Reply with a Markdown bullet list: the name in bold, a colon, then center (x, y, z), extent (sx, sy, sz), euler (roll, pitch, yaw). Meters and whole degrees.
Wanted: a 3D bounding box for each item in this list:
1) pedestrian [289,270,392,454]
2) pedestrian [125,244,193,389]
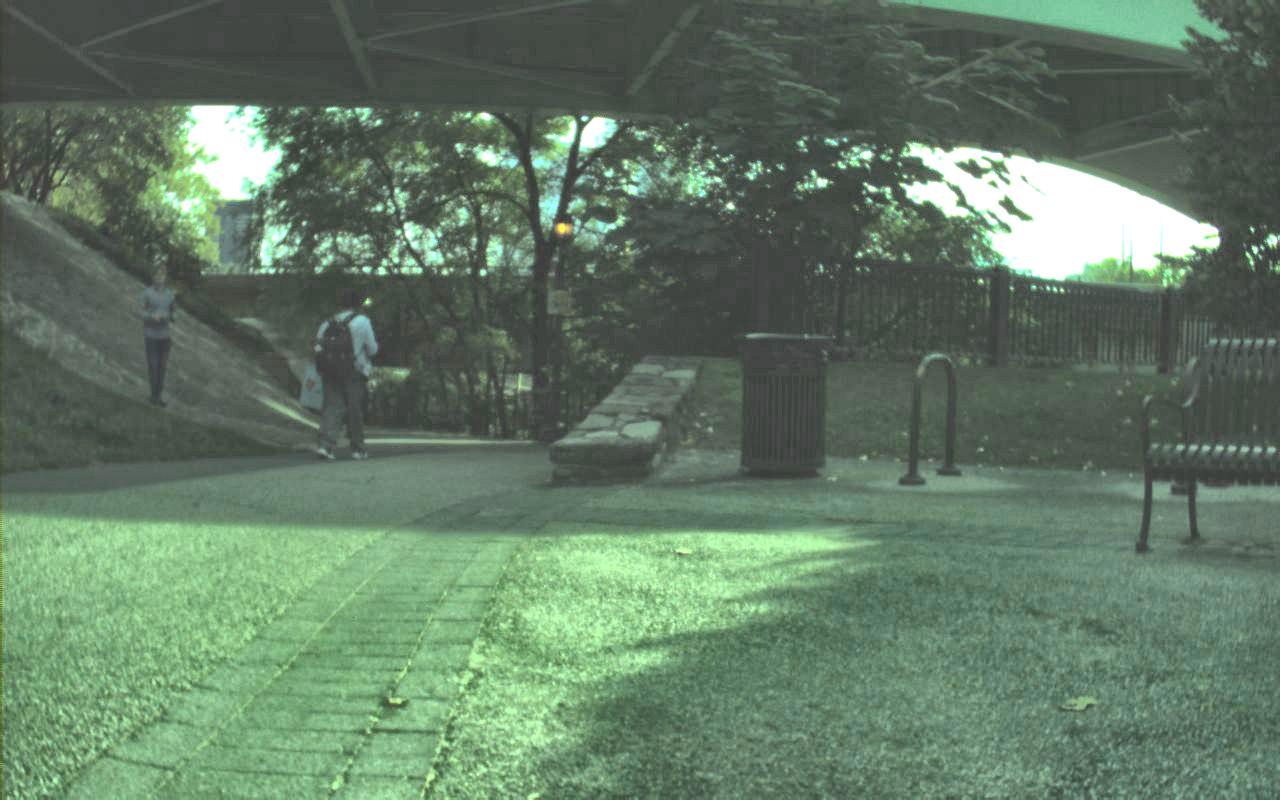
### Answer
- **pedestrian**: center (-2.882, -0.361, 11.905), extent (0.905, 1.701, 0.942), euler (0, 0, -7)
- **pedestrian**: center (-6.381, -1.061, 15.580), extent (0.766, 1.864, 0.729), euler (0, 0, -37)
